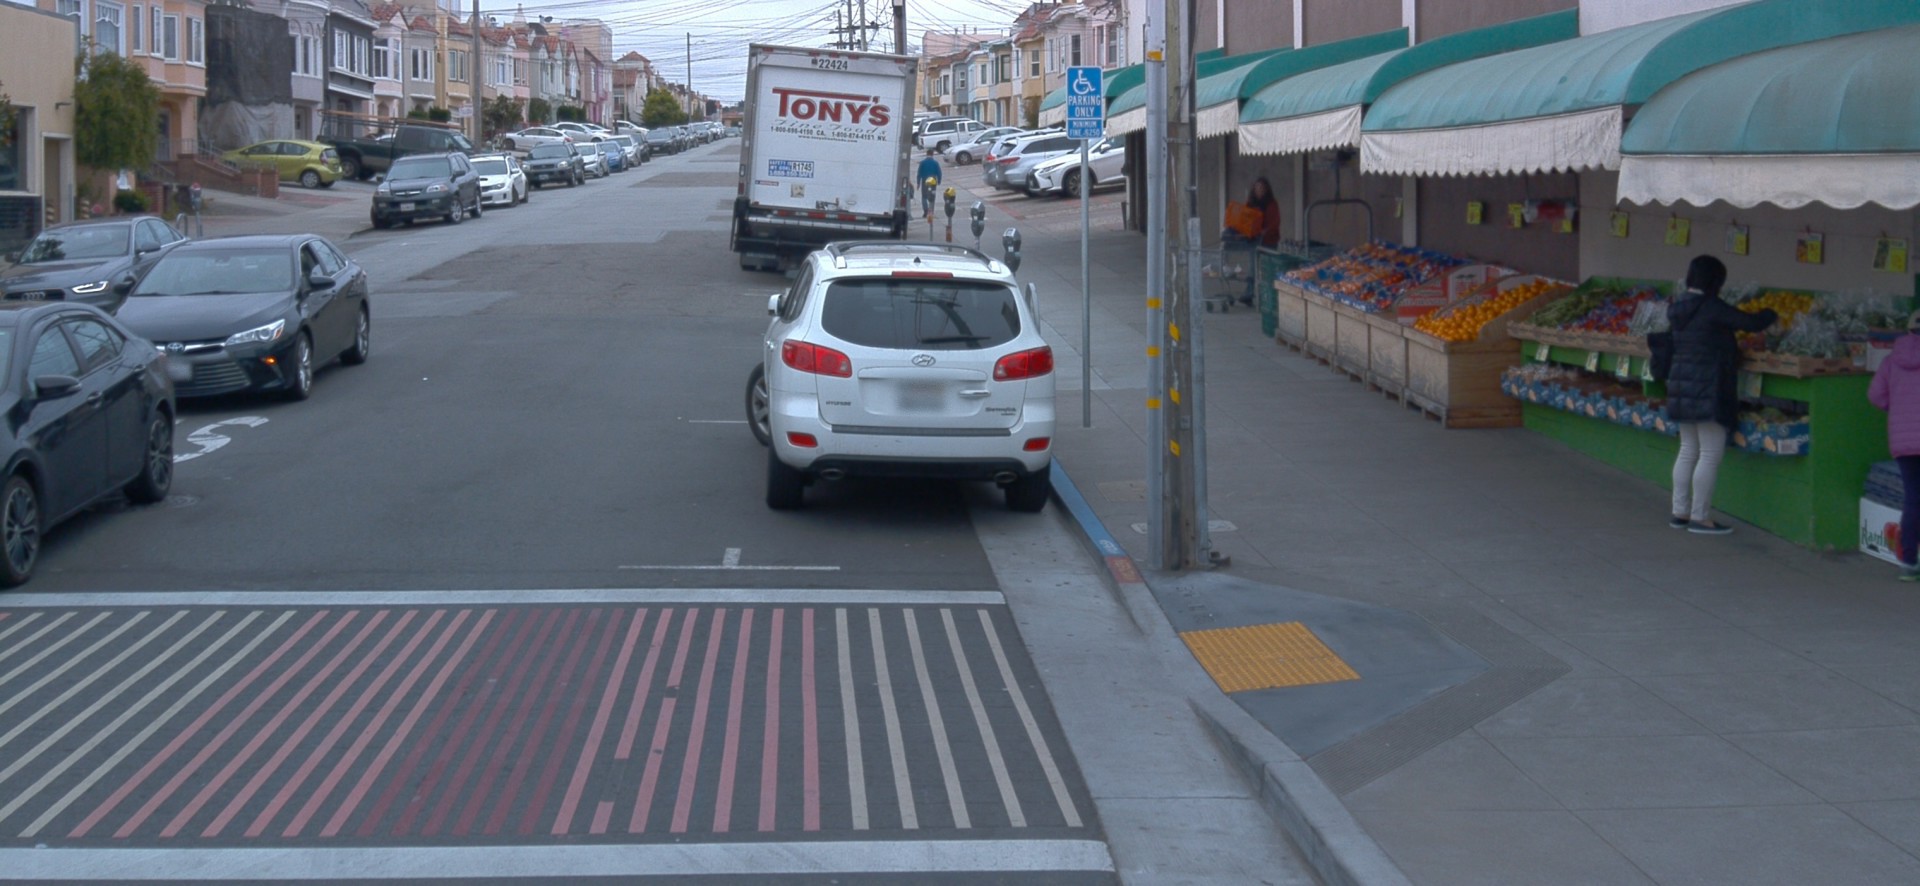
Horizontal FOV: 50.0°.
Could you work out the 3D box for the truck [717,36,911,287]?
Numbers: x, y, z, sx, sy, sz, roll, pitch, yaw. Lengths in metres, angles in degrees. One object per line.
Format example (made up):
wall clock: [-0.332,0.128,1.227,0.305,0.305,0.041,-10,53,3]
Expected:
truck: [-2.548,-4.781,36.123,2.914,3.770,10.115,0,5,-4]

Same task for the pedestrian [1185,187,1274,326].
pedestrian: [3.436,-2.388,26.258,0.889,1.737,0.722,-2,3,-43]

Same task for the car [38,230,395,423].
car: [-7.077,-1.257,20.197,2.069,1.636,4.923,0,6,-4]

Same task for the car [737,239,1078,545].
car: [-0.556,-0.544,14.957,2.105,1.832,4.565,0,5,-6]

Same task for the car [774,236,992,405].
car: [-0.906,-1.363,21.226,1.969,1.513,4.609,0,6,-6]

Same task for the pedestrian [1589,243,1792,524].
pedestrian: [4.364,-0.392,12.328,0.796,1.607,0.823,-1,2,-20]
